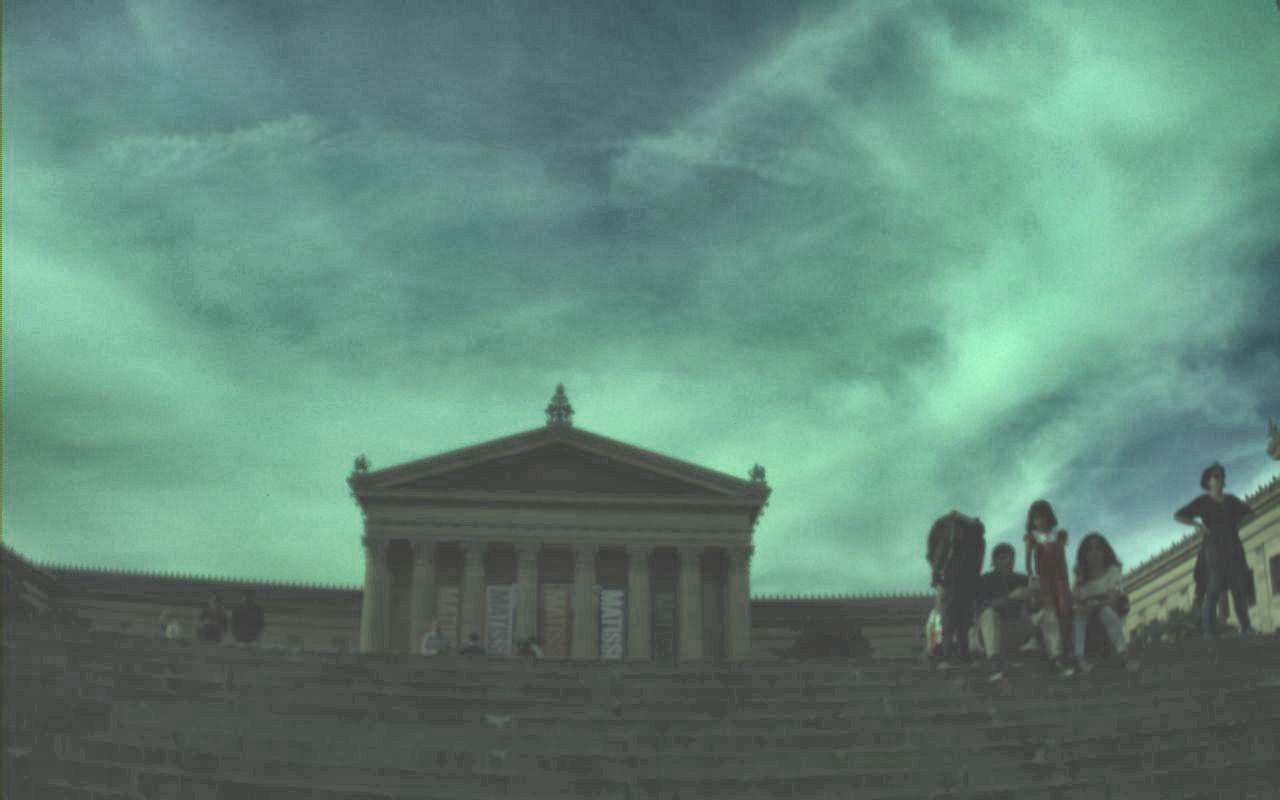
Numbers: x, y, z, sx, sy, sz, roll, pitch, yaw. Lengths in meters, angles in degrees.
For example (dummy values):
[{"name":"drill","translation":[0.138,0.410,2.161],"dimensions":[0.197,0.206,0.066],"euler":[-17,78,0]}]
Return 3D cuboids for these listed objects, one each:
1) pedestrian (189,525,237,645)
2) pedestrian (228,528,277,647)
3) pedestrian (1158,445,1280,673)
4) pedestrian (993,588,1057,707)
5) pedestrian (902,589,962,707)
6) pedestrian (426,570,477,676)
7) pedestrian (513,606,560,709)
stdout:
[{"name":"pedestrian","translation":[-6.702,2.929,18.536],"dimensions":[0.678,1.809,0.674],"euler":[0,0,-18]},{"name":"pedestrian","translation":[-6.055,2.949,18.637],"dimensions":[0.658,1.798,0.635],"euler":[0,0,-11]},{"name":"pedestrian","translation":[5.009,1.361,9.760],"dimensions":[0.820,1.844,0.808],"euler":[0,0,-3]},{"name":"pedestrian","translation":[6.249,4.038,19.345],"dimensions":[0.687,1.812,0.676],"euler":[0,0,-24]},{"name":"pedestrian","translation":[4.821,4.117,20.055],"dimensions":[0.666,1.823,0.656],"euler":[0,0,-27]},{"name":"pedestrian","translation":[-3.474,4.112,22.599],"dimensions":[0.678,1.831,0.666],"euler":[0,0,19]},{"name":"pedestrian","translation":[-1.960,4.878,23.320],"dimensions":[0.686,1.837,0.672],"euler":[0,0,13]}]
